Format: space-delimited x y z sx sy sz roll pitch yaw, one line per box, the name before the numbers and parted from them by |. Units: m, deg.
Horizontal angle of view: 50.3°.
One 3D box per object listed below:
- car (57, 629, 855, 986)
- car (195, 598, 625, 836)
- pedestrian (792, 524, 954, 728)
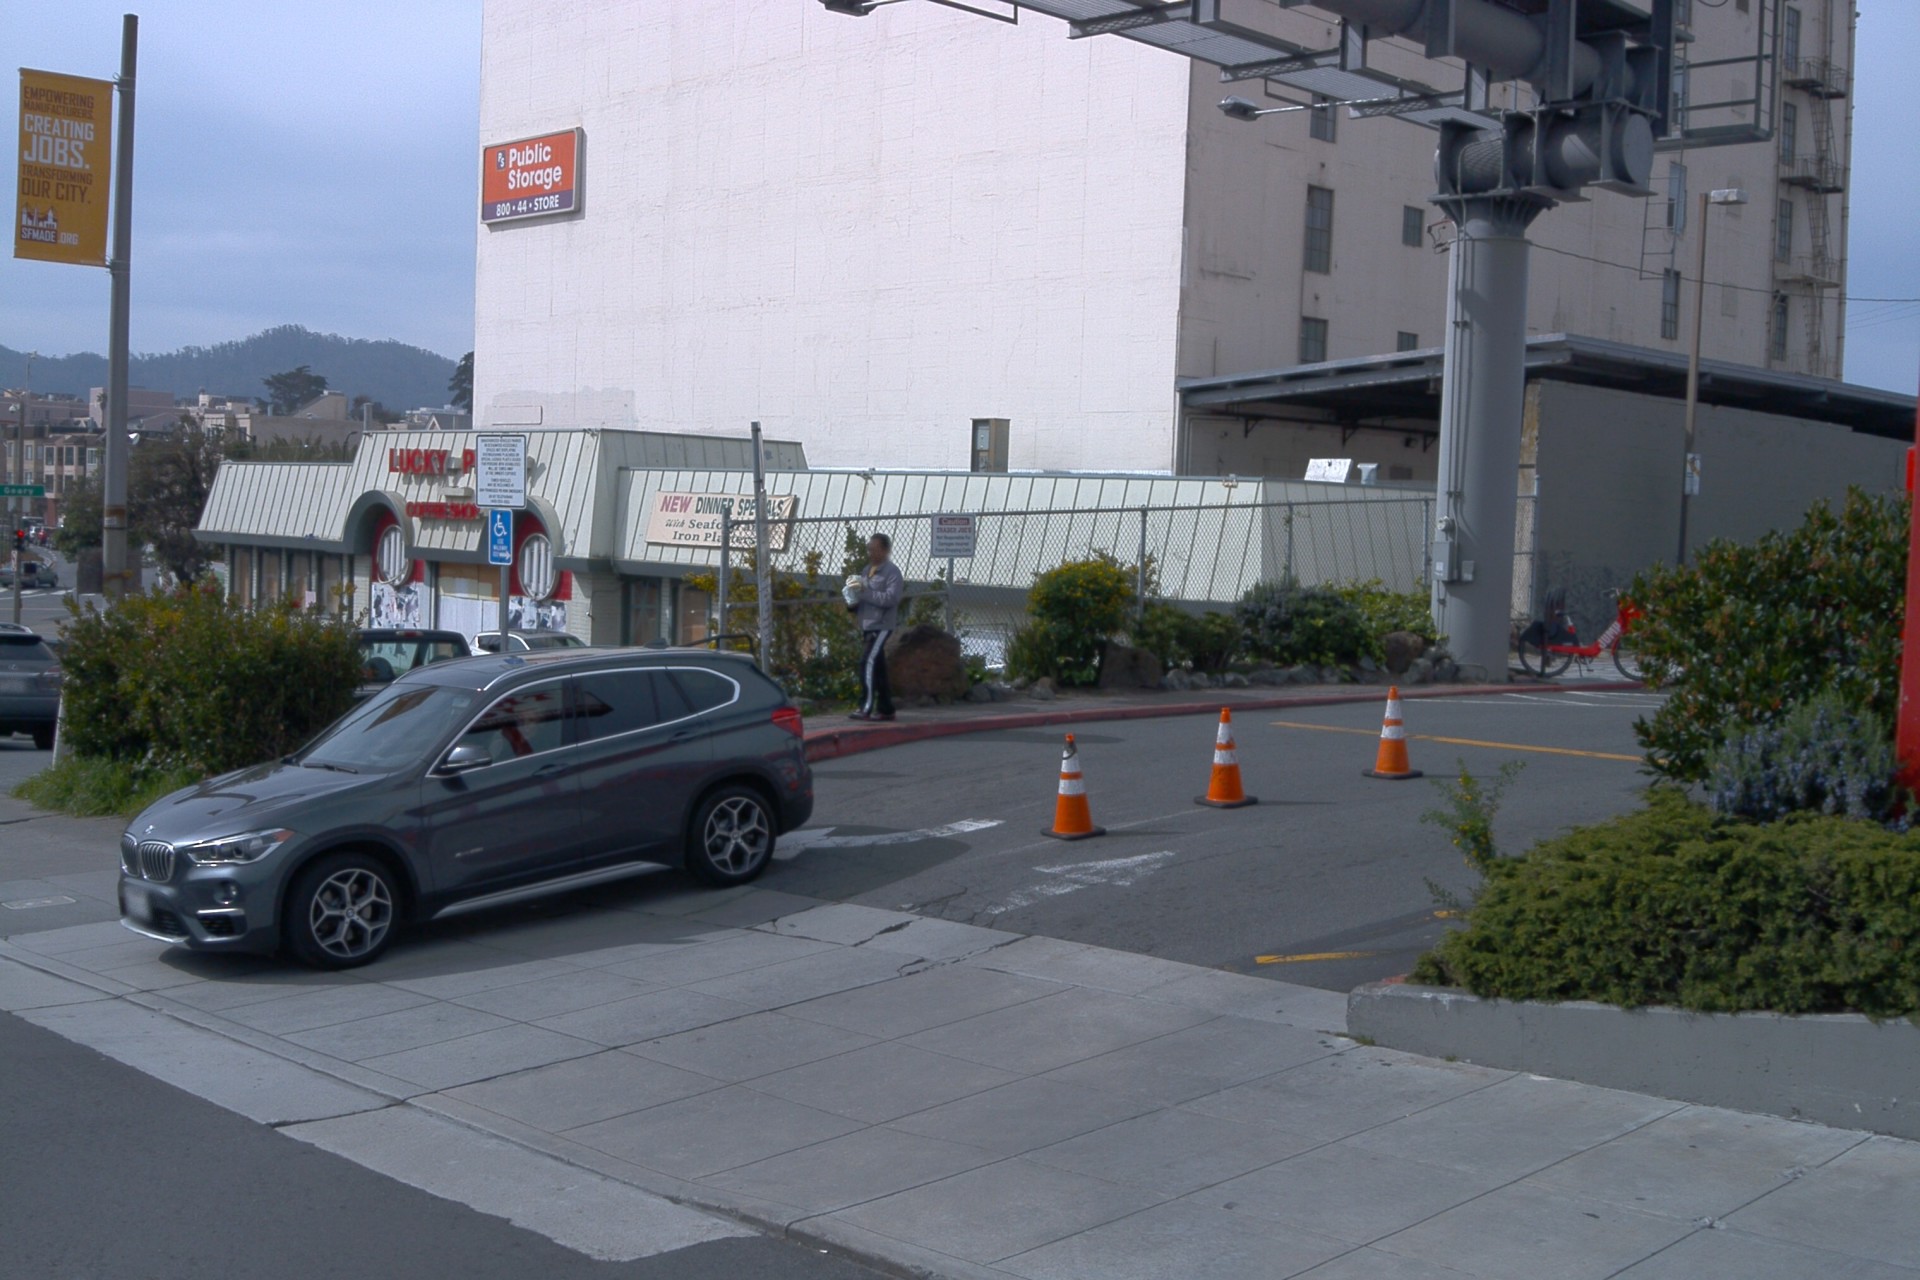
car | -3.082 0.888 13.082 4.468 1.870 2.123 0 0 -43
car | -5.624 0.660 20.540 4.798 2.110 1.999 1 0 44
pedestrian | -0.777 -0.121 18.227 1.076 1.744 0.943 0 1 -41
